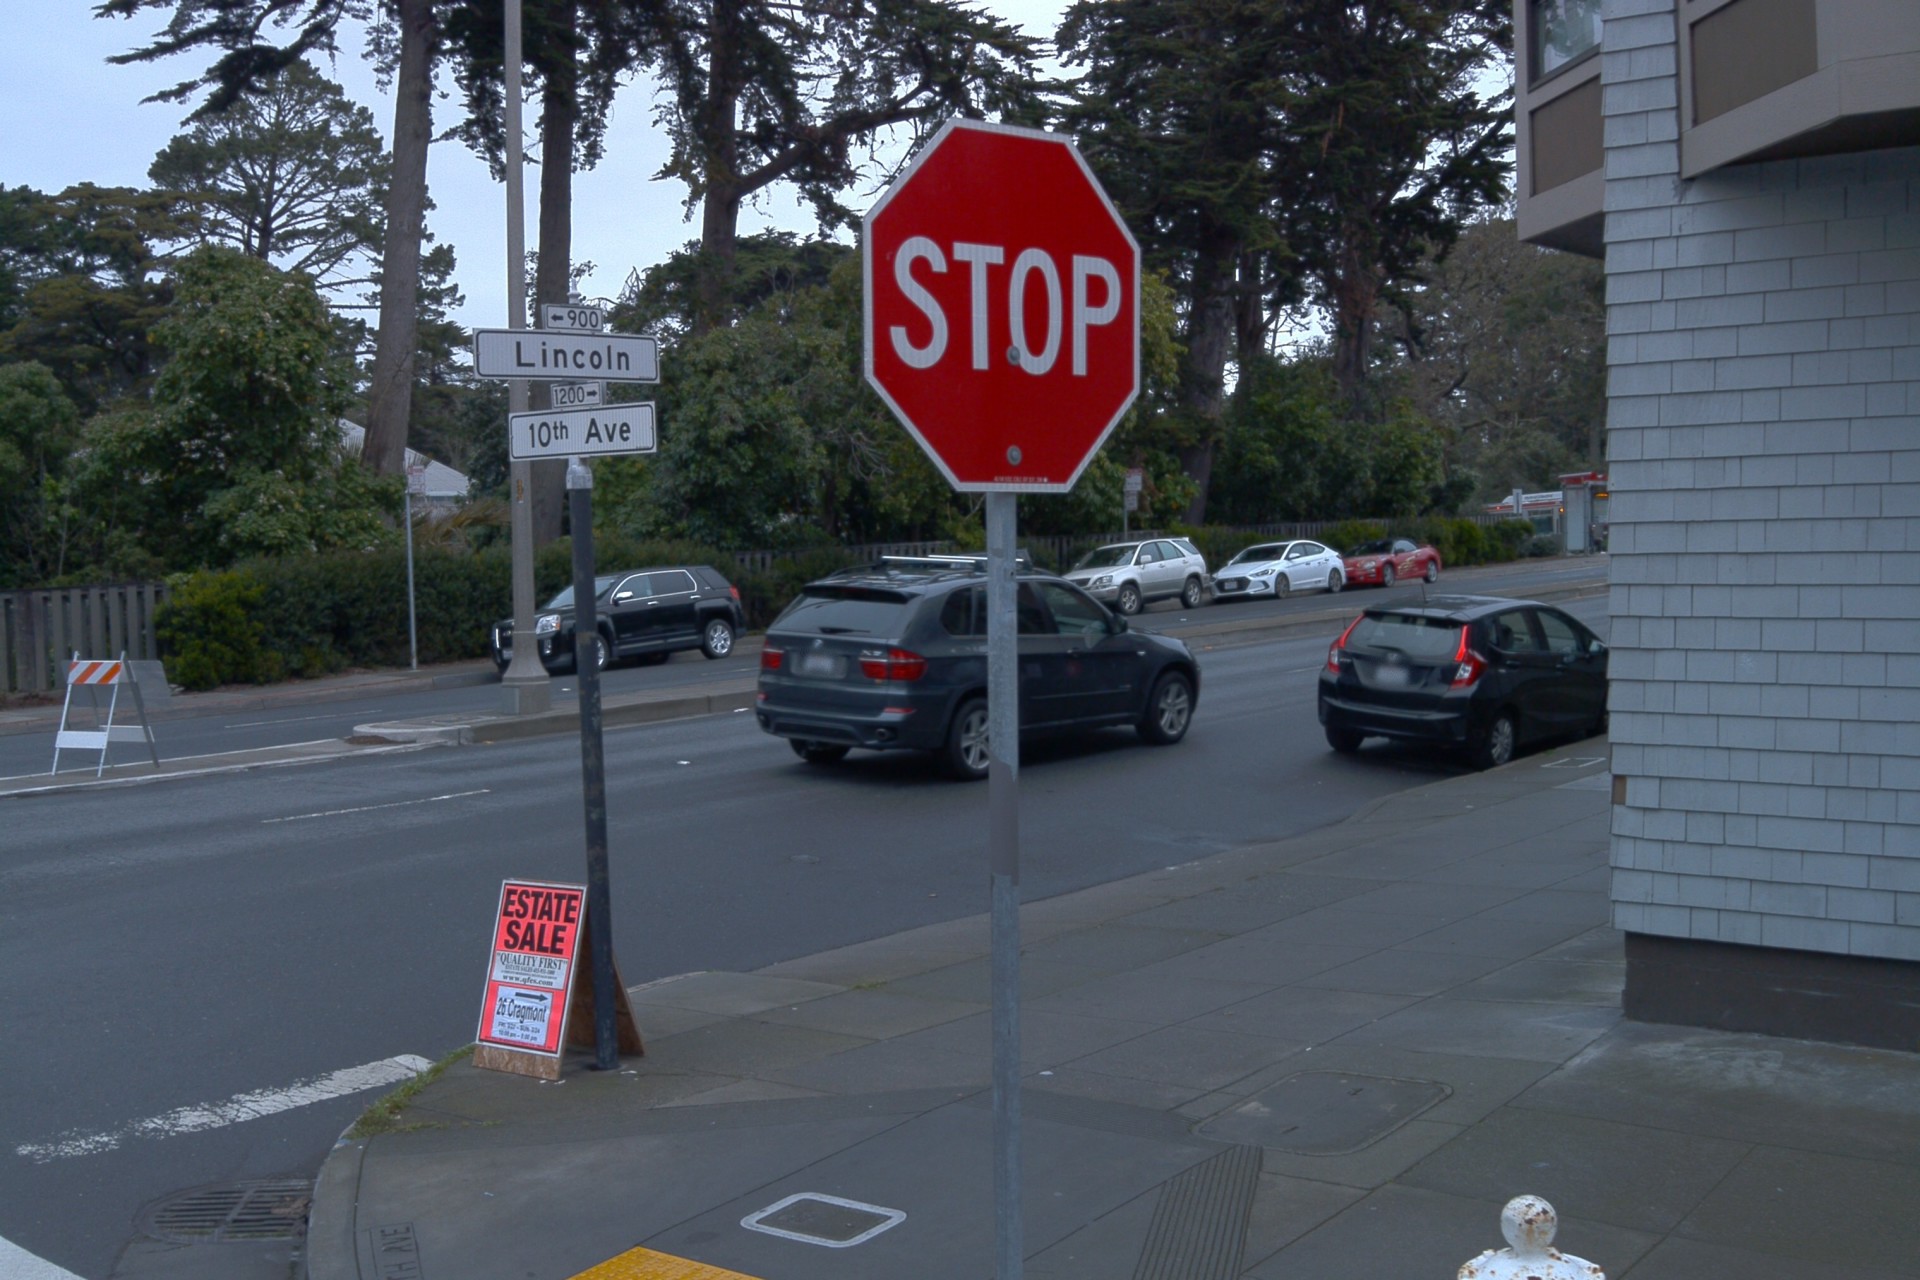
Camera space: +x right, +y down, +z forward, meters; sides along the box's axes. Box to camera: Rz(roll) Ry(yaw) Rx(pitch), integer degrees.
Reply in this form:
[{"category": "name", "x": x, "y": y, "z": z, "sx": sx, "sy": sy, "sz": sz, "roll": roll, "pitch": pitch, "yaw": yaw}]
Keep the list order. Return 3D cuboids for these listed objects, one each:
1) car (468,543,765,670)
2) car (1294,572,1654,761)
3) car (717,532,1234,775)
[{"category": "car", "x": -5.633, "y": -0.513, "z": 34.313, "sx": 1.917, "sy": 1.970, "sz": 4.787, "roll": 0, "pitch": 0, "yaw": 40}, {"category": "car", "x": 4.988, "y": 0.227, "z": 19.678, "sx": 1.835, "sy": 1.620, "sz": 3.815, "roll": 0, "pitch": 0, "yaw": 40}, {"category": "car", "x": 0.292, "y": 0.108, "z": 18.838, "sx": 2.165, "sy": 1.920, "sz": 4.880, "roll": 0, "pitch": 0, "yaw": 39}]
